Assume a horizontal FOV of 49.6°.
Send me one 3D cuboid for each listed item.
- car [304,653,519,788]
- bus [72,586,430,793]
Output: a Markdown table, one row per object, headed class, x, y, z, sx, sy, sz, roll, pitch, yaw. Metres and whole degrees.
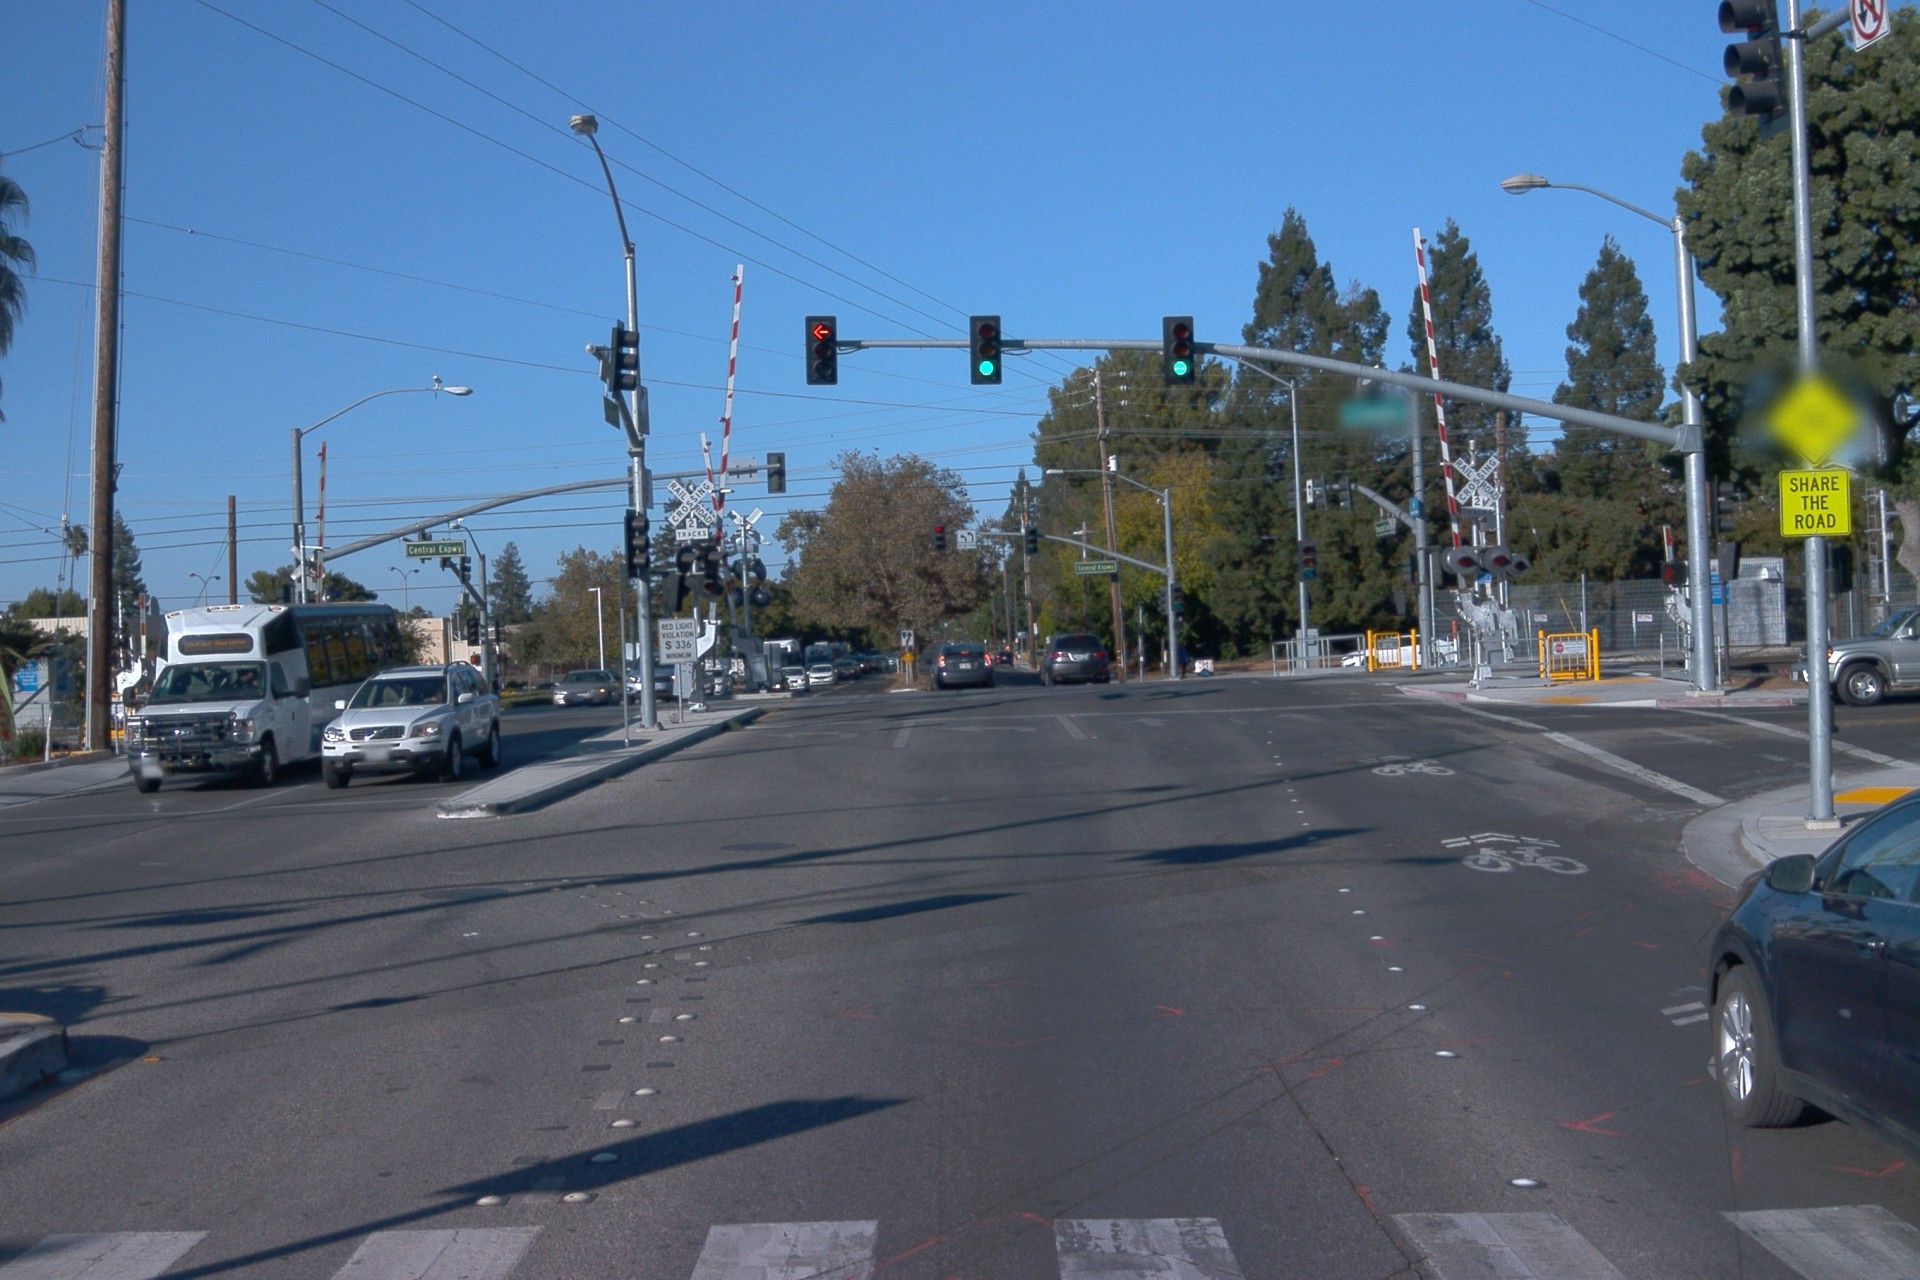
| class | x | y | z | sx | sy | sz | roll | pitch | yaw |
| --- | --- | --- | --- | --- | --- | --- | --- | --- | --- |
| car | -8.412 | 1.174 | 32.336 | 2.136 | 1.910 | 4.759 | -1 | 0 | -1 |
| bus | -11.656 | 0.738 | 35.348 | 3.012 | 3.030 | 9.238 | -1 | 0 | -1 |
